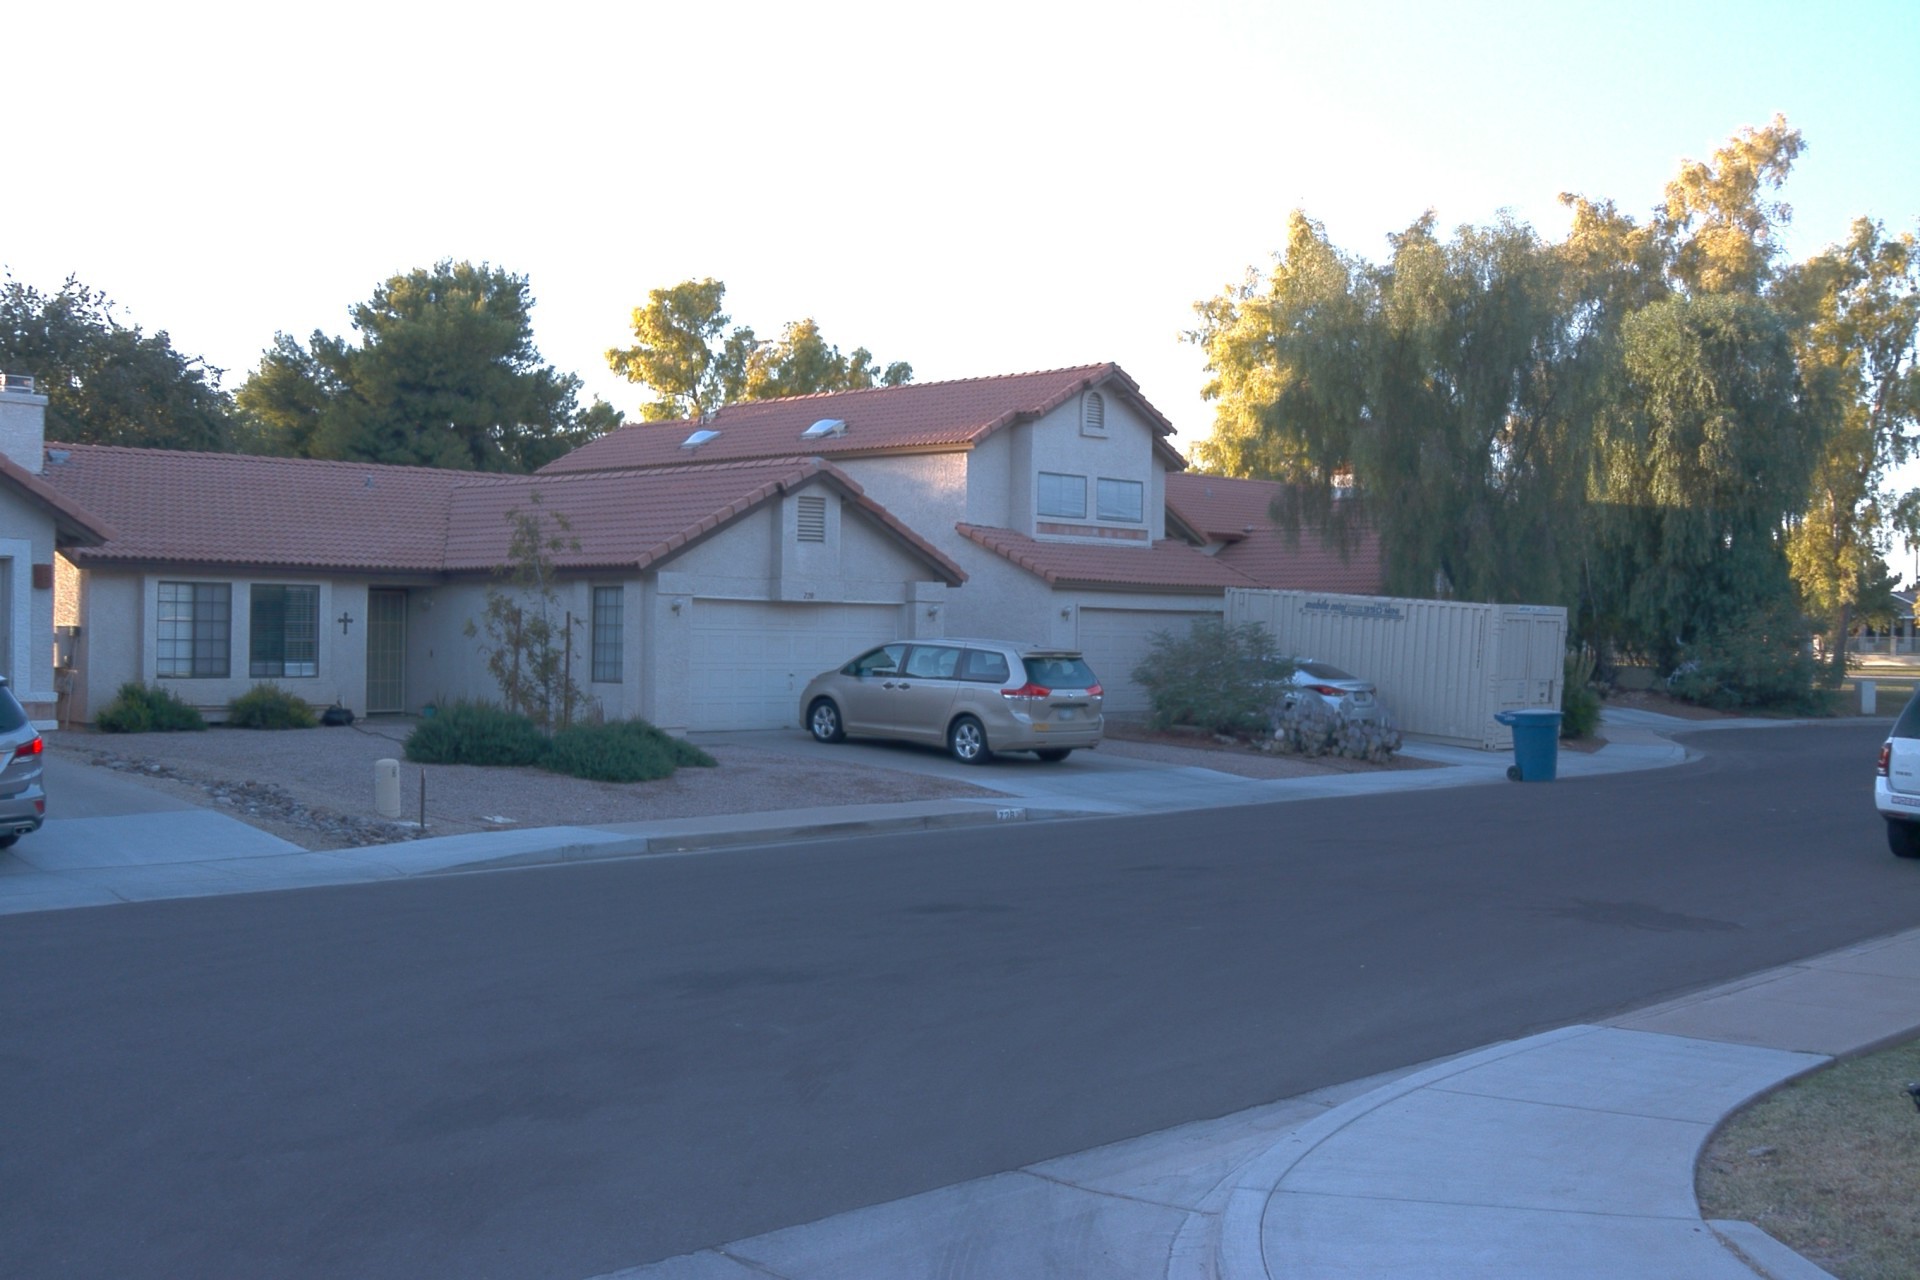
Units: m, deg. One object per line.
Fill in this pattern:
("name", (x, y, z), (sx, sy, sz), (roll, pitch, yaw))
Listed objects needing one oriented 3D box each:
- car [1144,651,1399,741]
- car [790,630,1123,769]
("car", (5.695, 0.987, 38.305), (4.304, 1.560, 2.021), (0, -1, 45))
("car", (-0.124, 0.831, 30.955), (4.850, 1.910, 2.173), (0, -1, 45))
